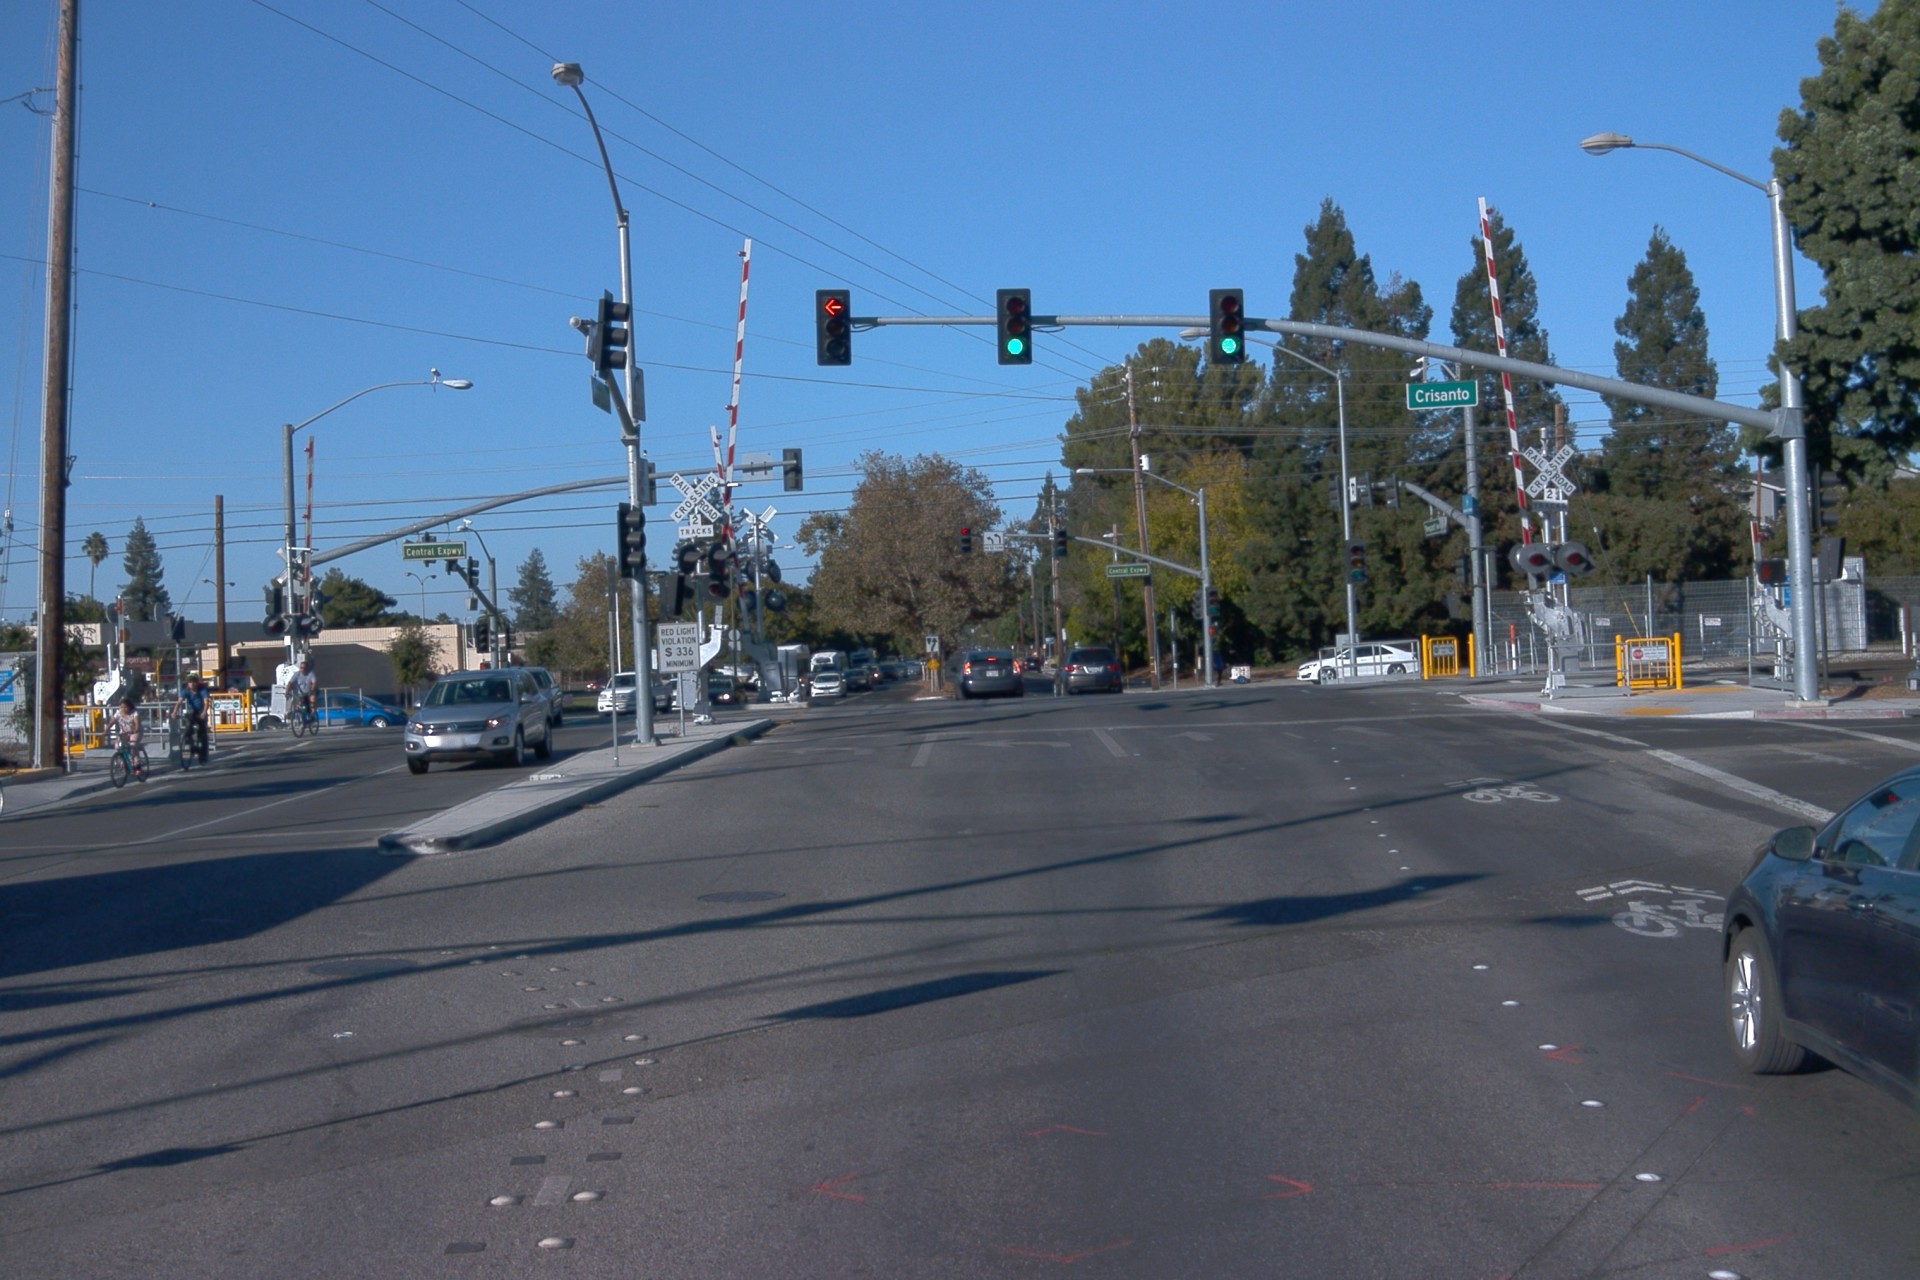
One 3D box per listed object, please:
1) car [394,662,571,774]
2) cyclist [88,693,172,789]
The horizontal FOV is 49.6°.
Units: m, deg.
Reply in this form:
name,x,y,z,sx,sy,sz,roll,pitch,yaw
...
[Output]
name,x,y,z,sx,sy,sz,roll,pitch,yaw
car,-8.098,1.278,35.633,2.081,1.730,4.331,-1,0,-1
cyclist,-14.053,1.692,35.239,0.768,1.540,1.746,-1,0,-2
